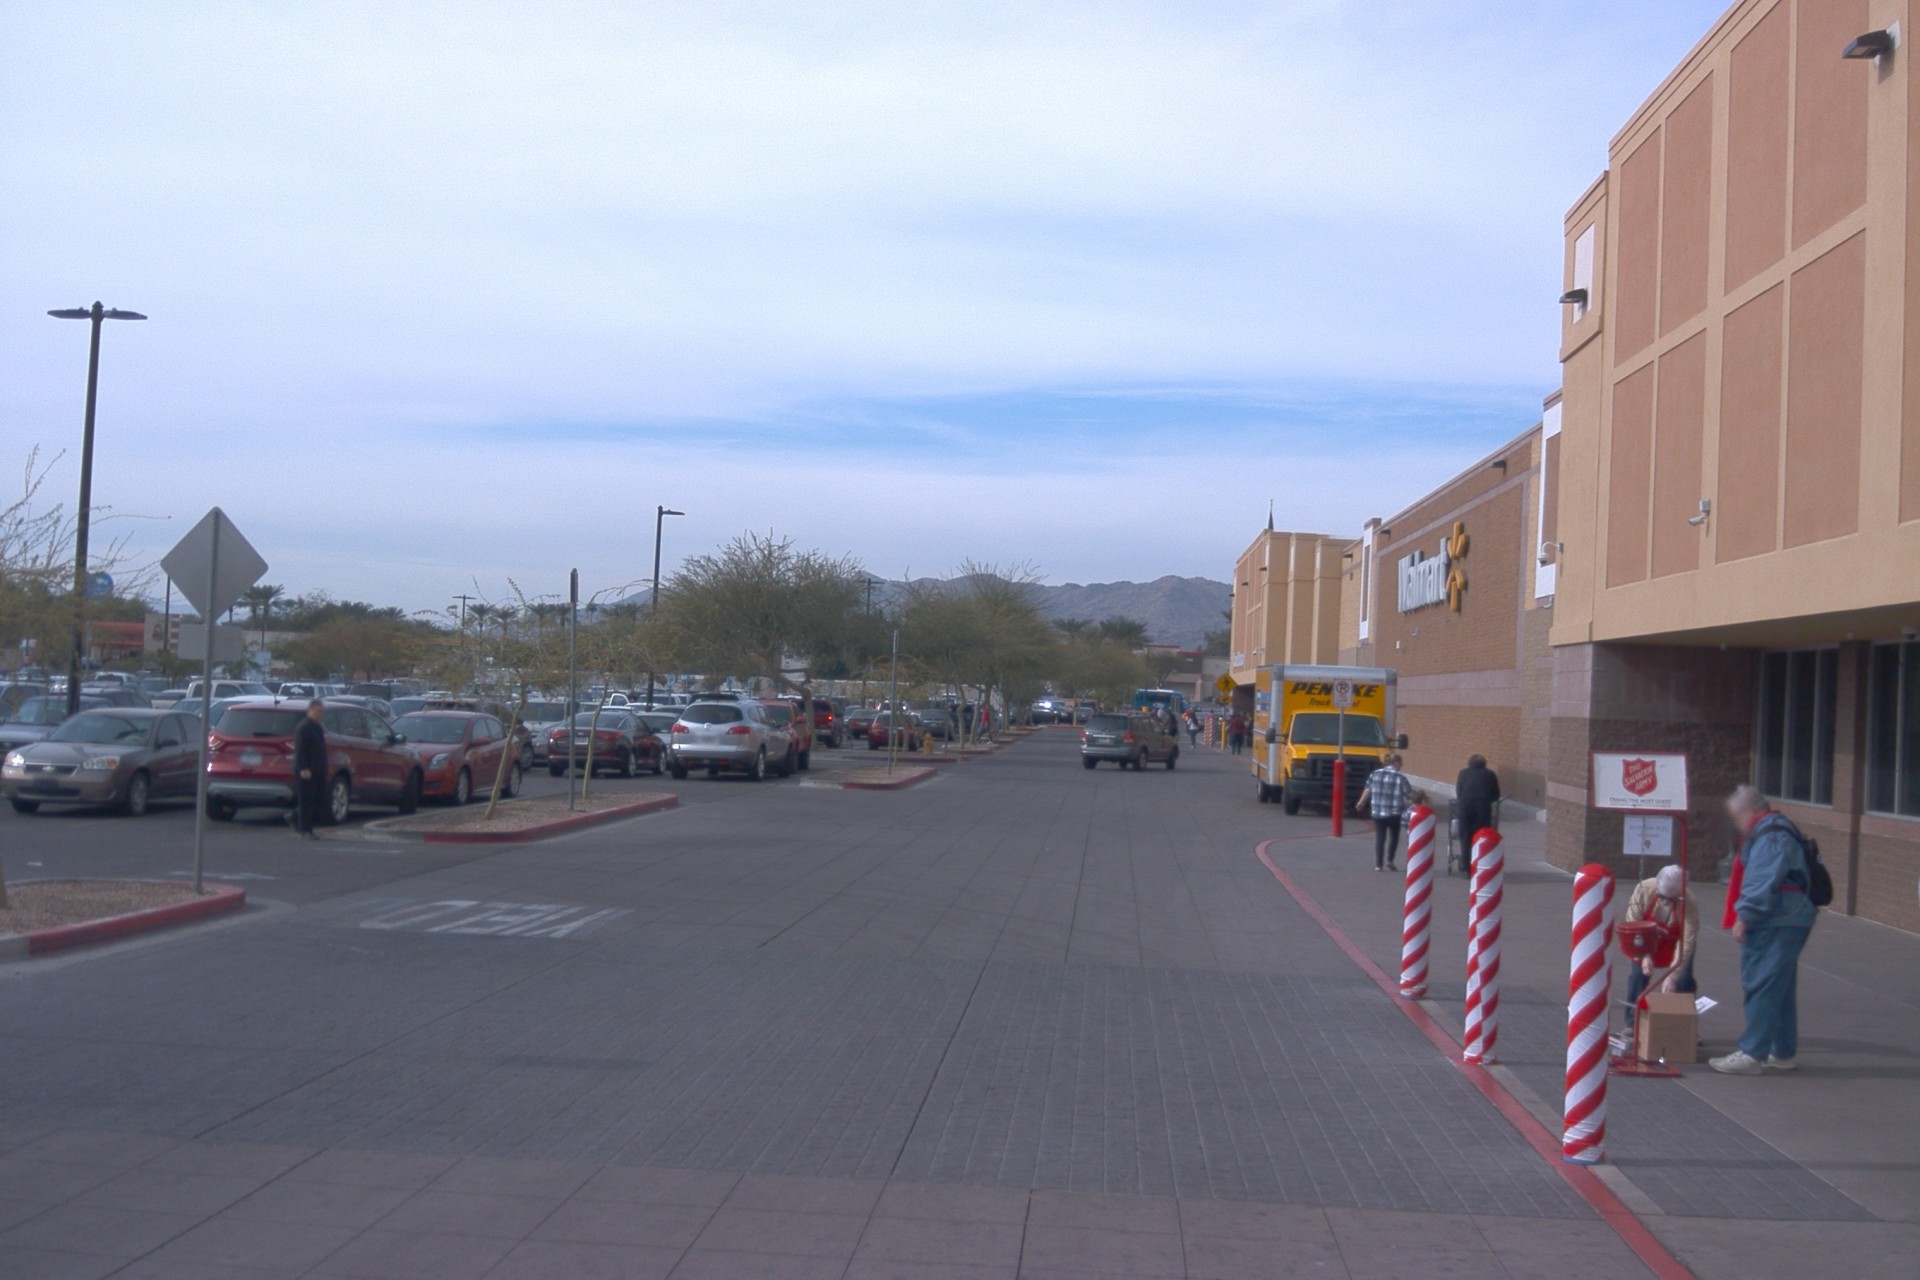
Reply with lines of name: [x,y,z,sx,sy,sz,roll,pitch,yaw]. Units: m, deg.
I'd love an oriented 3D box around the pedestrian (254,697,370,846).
pedestrian: [-7.923,1.589,25.525,0.999,1.760,1.001,1,-1,4]

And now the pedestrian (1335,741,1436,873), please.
pedestrian: [5.586,2.163,27.308,1.121,1.630,1.173,1,-2,19]

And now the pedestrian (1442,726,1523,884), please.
pedestrian: [6.600,2.060,26.384,0.939,1.900,1.327,1,-2,13]

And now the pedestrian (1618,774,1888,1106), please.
pedestrian: [4.788,1.770,12.633,1.118,1.860,1.043,2,-2,-16]

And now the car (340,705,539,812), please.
car: [-8.510,1.904,34.473,1.906,1.600,4.184,1,-2,4]

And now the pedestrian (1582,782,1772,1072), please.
pedestrian: [4.563,1.794,13.340,1.005,1.700,1.026,1,-1,11]

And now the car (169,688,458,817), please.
car: [-8.976,1.527,29.428,2.115,1.630,4.730,1,-2,7]

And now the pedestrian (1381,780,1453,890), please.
pedestrian: [5.874,2.484,26.759,0.821,1.330,0.942,1,-2,16]
